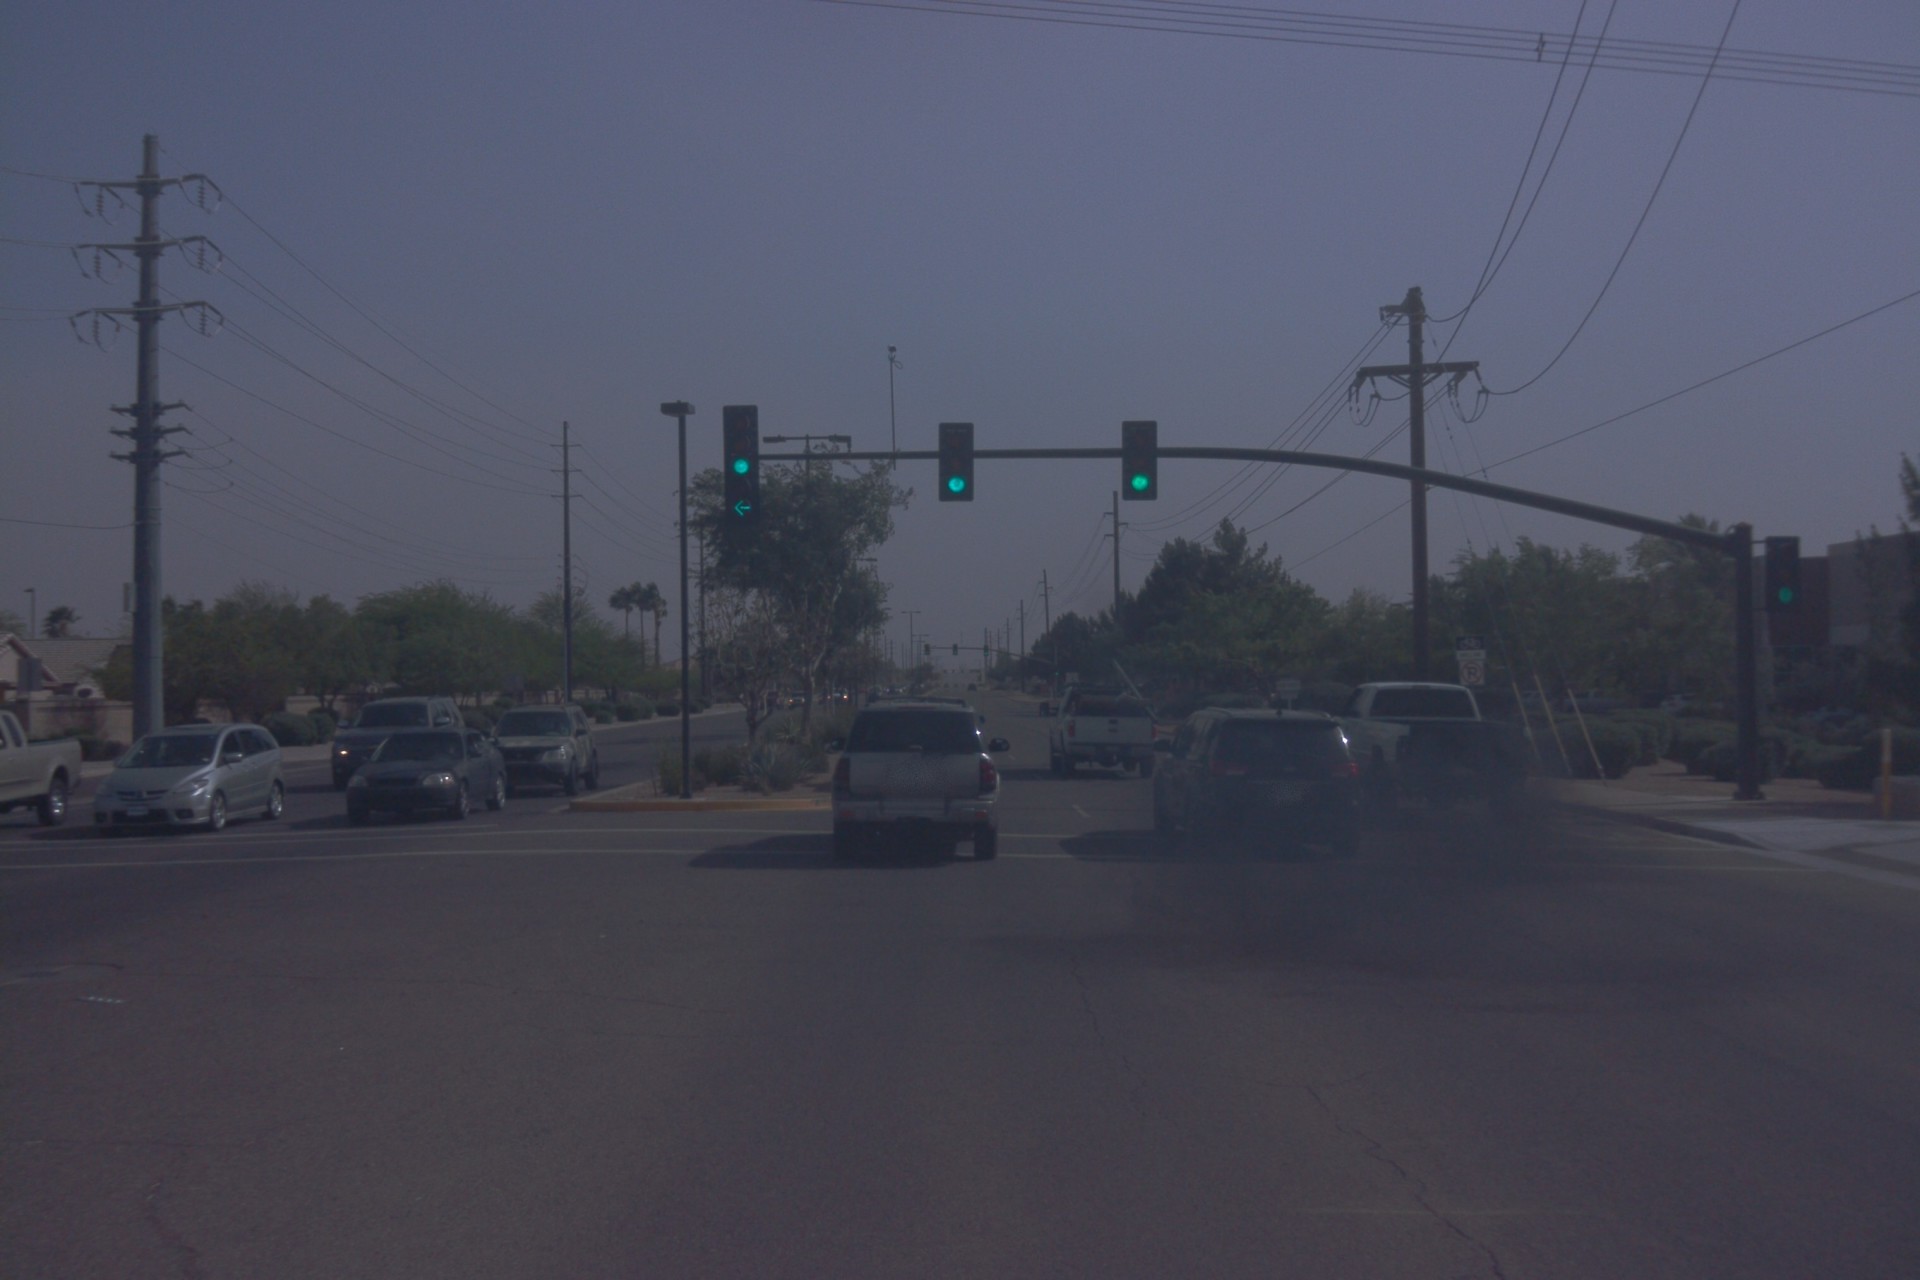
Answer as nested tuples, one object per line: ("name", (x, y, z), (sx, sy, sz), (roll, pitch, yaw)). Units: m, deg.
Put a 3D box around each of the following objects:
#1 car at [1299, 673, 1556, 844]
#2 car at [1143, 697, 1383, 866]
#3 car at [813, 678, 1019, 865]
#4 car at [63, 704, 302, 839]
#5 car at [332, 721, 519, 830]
("car", (7.073, 1.711, 32.385), (2.415, 2.350, 6.497), (0, -1, -1))
("car", (3.605, 1.648, 25.733), (2.145, 1.800, 4.884), (0, -1, -1))
("car", (-0.469, 1.458, 24.674), (2.201, 1.960, 4.684), (0, -1, 0))
("car", (-11.863, 1.950, 32.109), (2.017, 1.830, 4.618), (0, -1, -1))
("car", (-8.244, 2.051, 32.505), (1.850, 1.450, 4.516), (0, -1, -1))
